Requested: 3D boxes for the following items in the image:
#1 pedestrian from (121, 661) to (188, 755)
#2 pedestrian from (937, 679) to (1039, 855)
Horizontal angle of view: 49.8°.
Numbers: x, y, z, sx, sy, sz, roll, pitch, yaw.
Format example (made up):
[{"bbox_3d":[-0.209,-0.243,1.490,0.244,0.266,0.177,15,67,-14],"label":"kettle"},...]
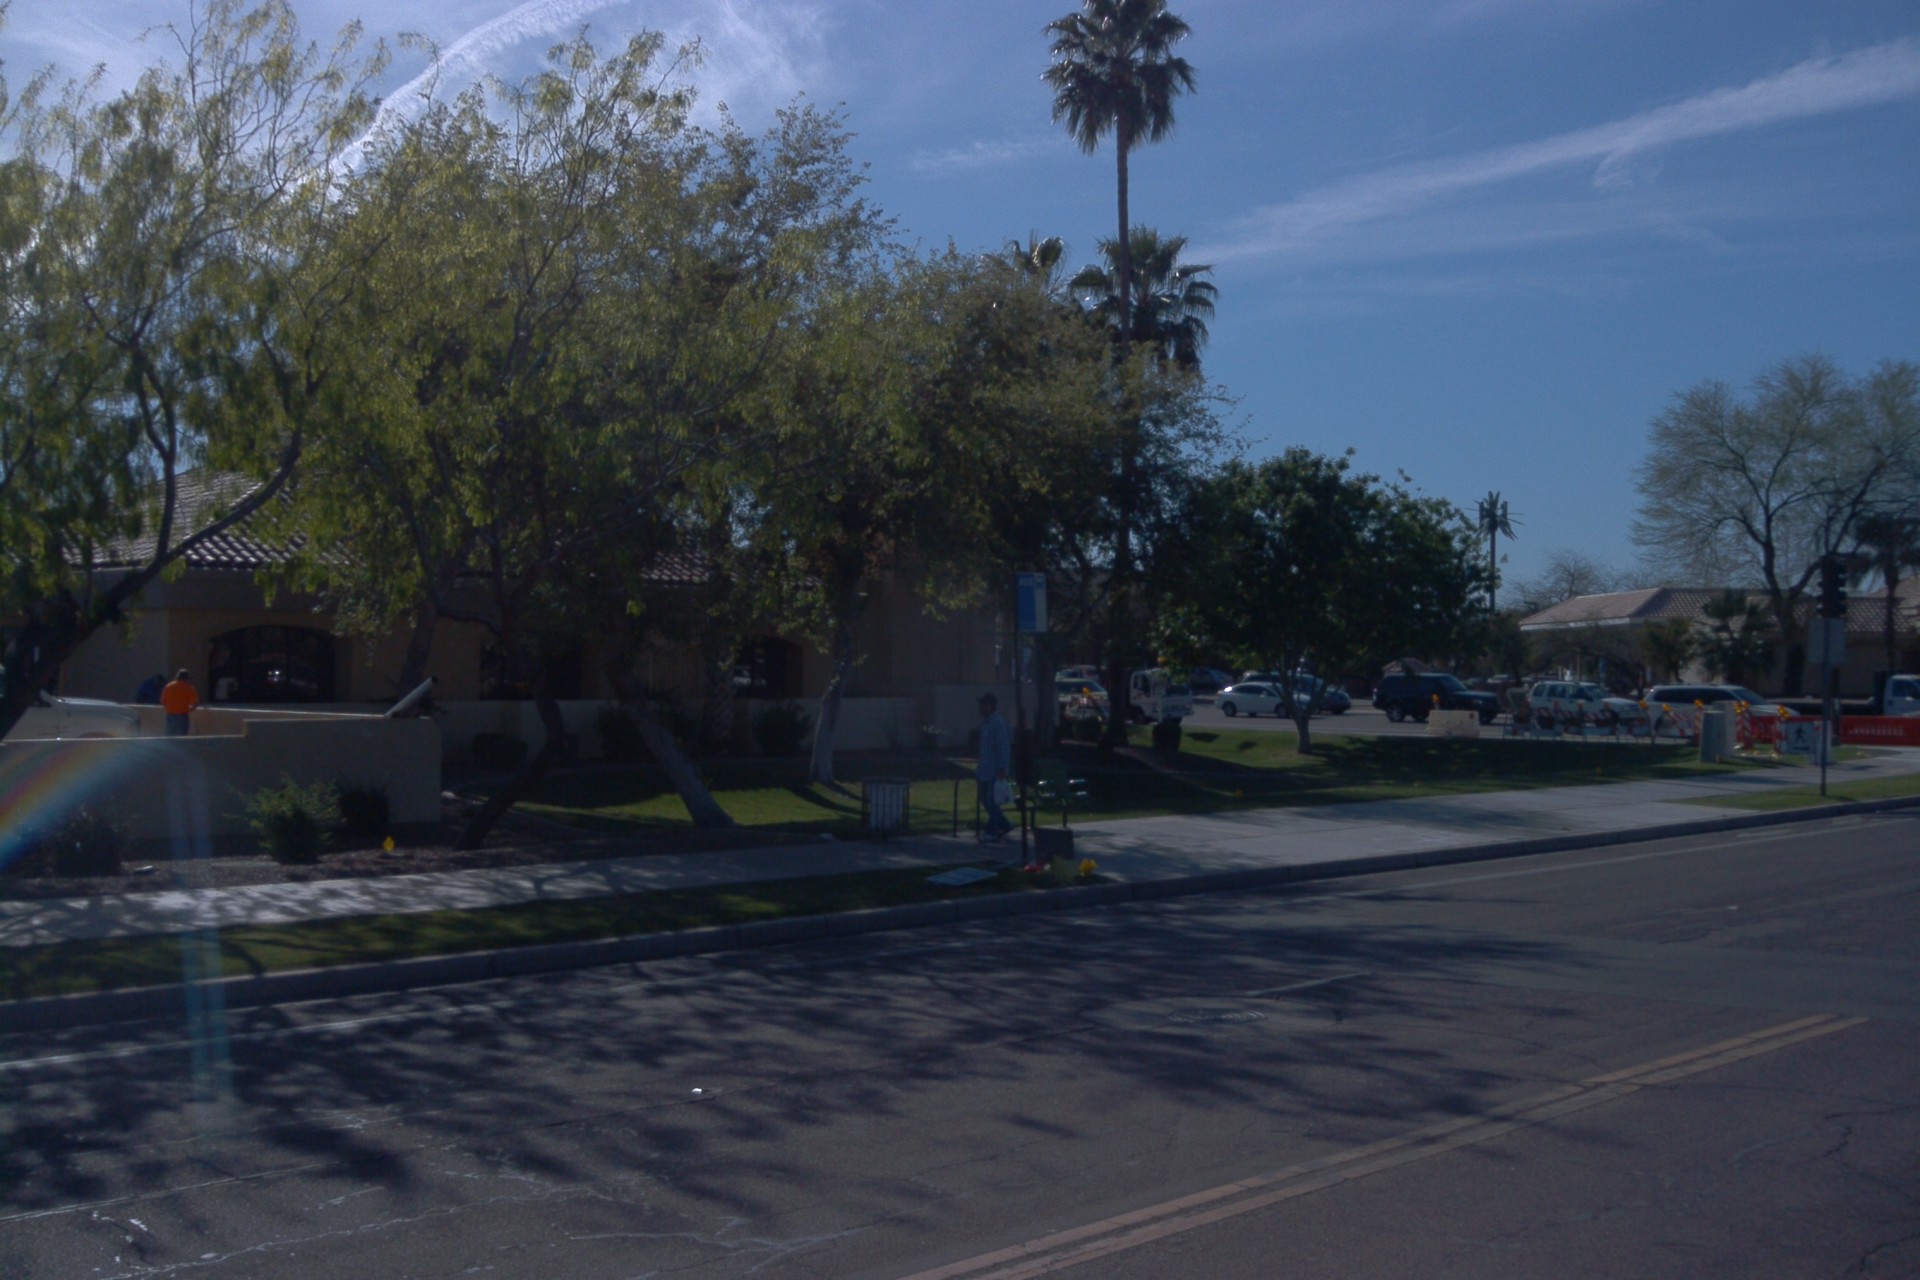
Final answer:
[{"bbox_3d":[-12.730,1.068,32.694,0.786,1.450,0.845,1,-1,-35],"label":"pedestrian"},{"bbox_3d":[0.330,1.480,24.584,0.820,2.020,0.876,1,-1,-43],"label":"pedestrian"}]
